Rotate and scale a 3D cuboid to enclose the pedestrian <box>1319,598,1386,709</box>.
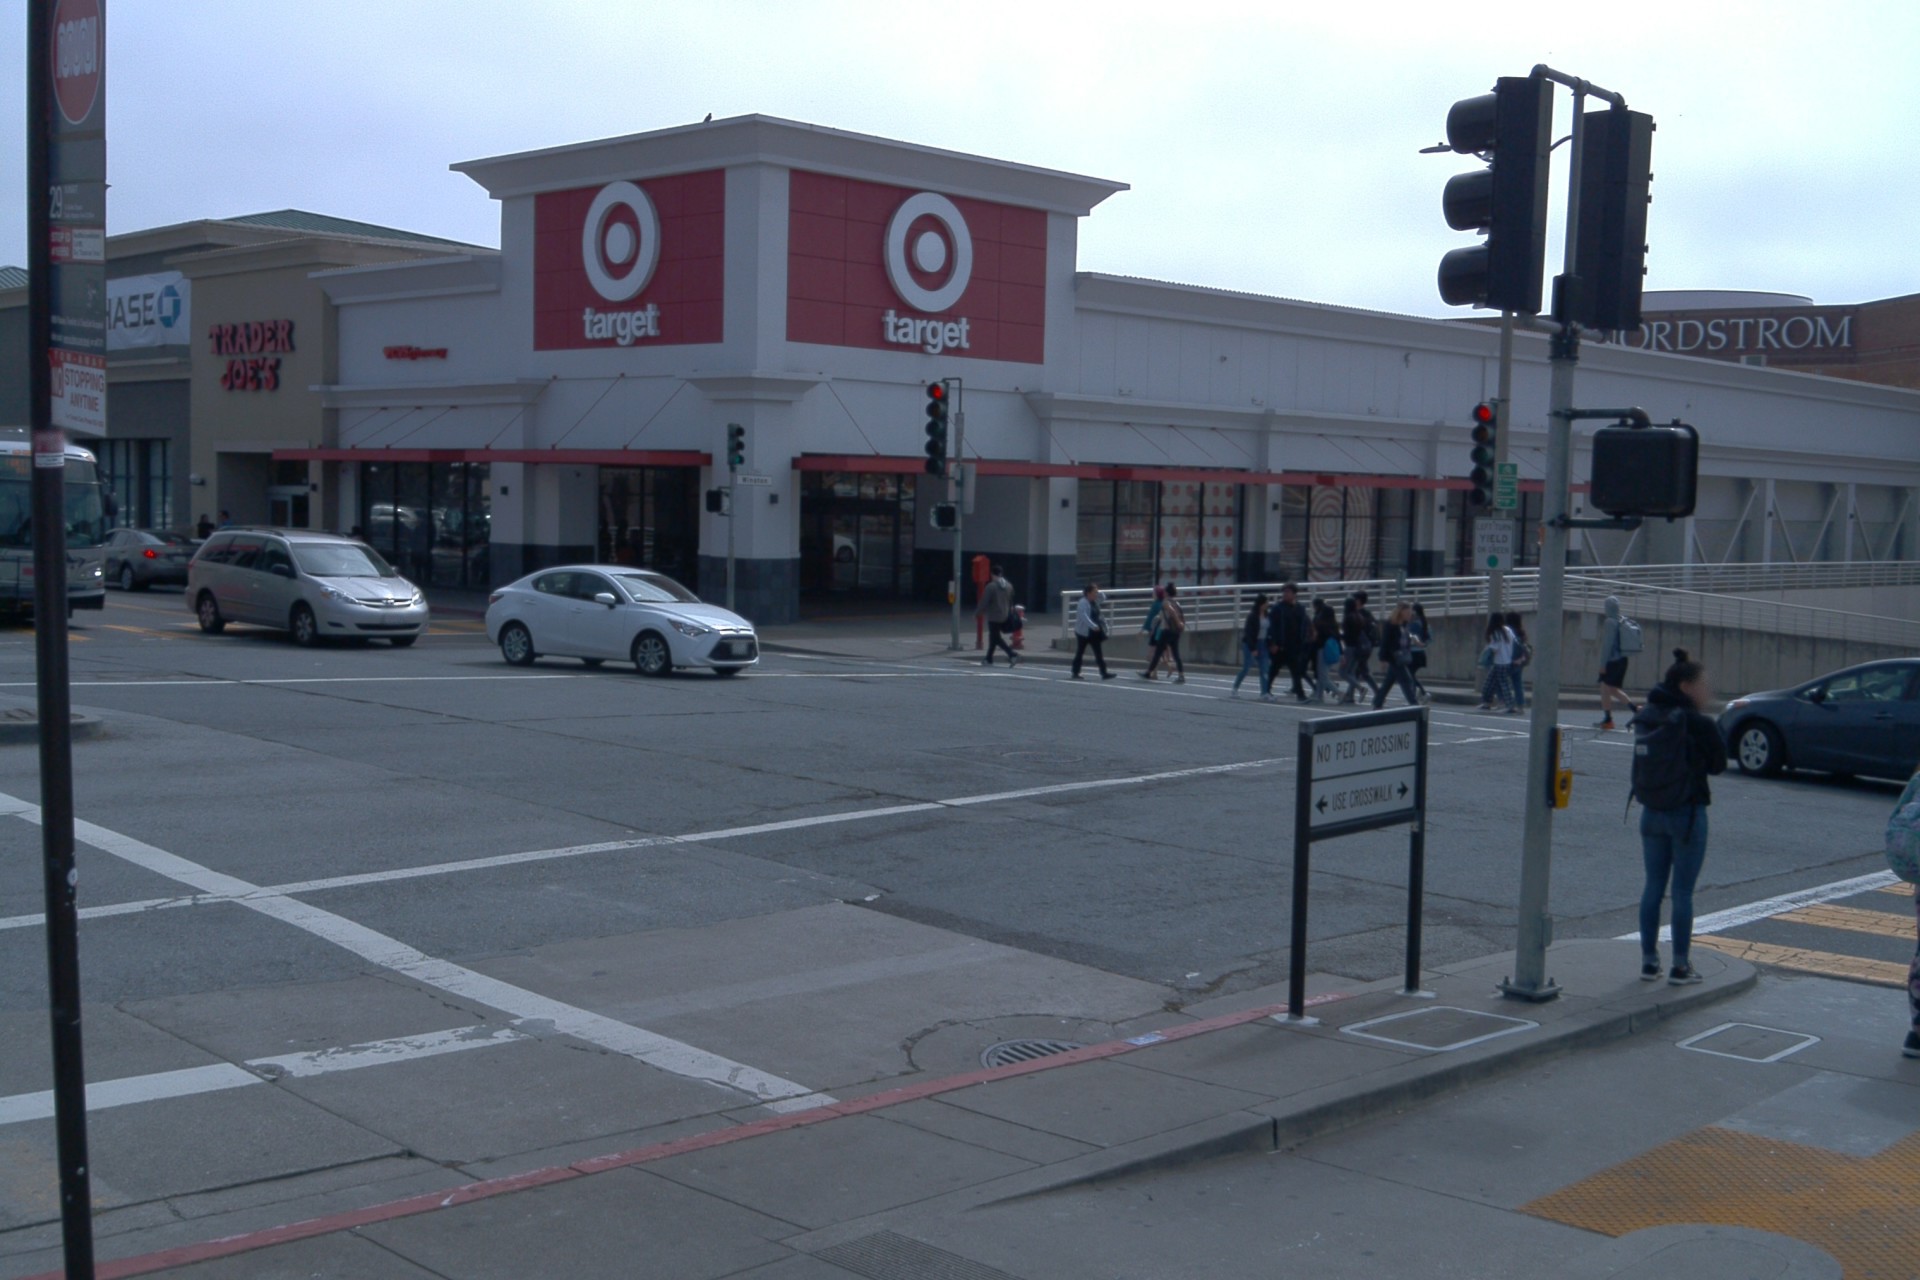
[{"bbox_3d":[5.737,0.187,30.188,0.587,1.600,0.758,-1,1,-42],"label":"pedestrian"}]

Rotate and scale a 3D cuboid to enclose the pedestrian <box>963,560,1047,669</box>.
[{"bbox_3d":[0.775,-0.445,35.758,1.043,1.850,1.025,1,1,39],"label":"pedestrian"}]

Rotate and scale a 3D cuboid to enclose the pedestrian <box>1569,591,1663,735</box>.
[{"bbox_3d":[9.072,0.304,28.552,1.039,1.960,0.717,1,1,43],"label":"pedestrian"}]

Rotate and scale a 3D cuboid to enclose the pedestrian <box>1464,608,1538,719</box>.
[{"bbox_3d":[8.077,0.336,30.811,0.890,1.630,0.612,1,1,39],"label":"pedestrian"}]

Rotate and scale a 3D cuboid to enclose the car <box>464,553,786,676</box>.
[{"bbox_3d":[-4.724,-0.355,28.885,4.369,1.600,1.885,0,1,35],"label":"car"}]

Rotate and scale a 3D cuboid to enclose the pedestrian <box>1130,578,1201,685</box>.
[{"bbox_3d":[3.319,-0.138,33.325,0.895,1.700,0.689,1,1,44],"label":"pedestrian"}]

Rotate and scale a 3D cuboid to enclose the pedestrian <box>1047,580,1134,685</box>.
[{"bbox_3d":[2.043,-0.117,32.347,0.972,1.610,0.944,1,1,44],"label":"pedestrian"}]

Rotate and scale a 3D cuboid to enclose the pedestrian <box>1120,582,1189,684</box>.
[{"bbox_3d":[3.225,-0.120,34.197,0.873,1.670,0.783,0,1,36],"label":"pedestrian"}]

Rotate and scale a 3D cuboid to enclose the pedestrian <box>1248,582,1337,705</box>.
[{"bbox_3d":[4.811,0.040,29.879,0.795,1.750,1.018,-1,1,-33],"label":"pedestrian"}]

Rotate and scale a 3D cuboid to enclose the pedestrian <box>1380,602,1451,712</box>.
[{"bbox_3d":[6.824,0.245,30.907,0.721,1.630,0.786,1,1,45],"label":"pedestrian"}]

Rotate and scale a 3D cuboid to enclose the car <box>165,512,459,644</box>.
[{"bbox_3d":[-10.540,-0.958,33.364,5.161,1.970,2.221,1,1,42],"label":"car"}]

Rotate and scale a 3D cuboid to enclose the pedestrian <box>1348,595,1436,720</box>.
[{"bbox_3d":[5.911,0.230,28.219,0.926,1.680,0.769,1,1,40],"label":"pedestrian"}]

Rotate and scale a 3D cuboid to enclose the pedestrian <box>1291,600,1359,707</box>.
[{"bbox_3d":[5.287,0.189,29.908,0.680,1.530,0.707,-1,1,-45],"label":"pedestrian"}]

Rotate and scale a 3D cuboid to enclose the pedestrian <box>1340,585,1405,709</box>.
[{"bbox_3d":[6.101,0.095,30.549,0.592,1.800,0.732,-1,1,-41],"label":"pedestrian"}]

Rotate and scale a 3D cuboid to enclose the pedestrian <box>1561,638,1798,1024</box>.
[{"bbox_3d":[3.537,0.880,10.128,0.843,1.760,0.940,0,1,37],"label":"pedestrian"}]

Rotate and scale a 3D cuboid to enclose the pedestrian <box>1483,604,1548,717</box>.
[{"bbox_3d":[8.398,0.303,31.194,0.804,1.680,0.508,1,1,41],"label":"pedestrian"}]

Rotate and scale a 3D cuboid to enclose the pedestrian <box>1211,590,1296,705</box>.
[{"bbox_3d":[4.222,0.098,29.713,0.742,1.630,0.987,-1,1,-34],"label":"pedestrian"}]
